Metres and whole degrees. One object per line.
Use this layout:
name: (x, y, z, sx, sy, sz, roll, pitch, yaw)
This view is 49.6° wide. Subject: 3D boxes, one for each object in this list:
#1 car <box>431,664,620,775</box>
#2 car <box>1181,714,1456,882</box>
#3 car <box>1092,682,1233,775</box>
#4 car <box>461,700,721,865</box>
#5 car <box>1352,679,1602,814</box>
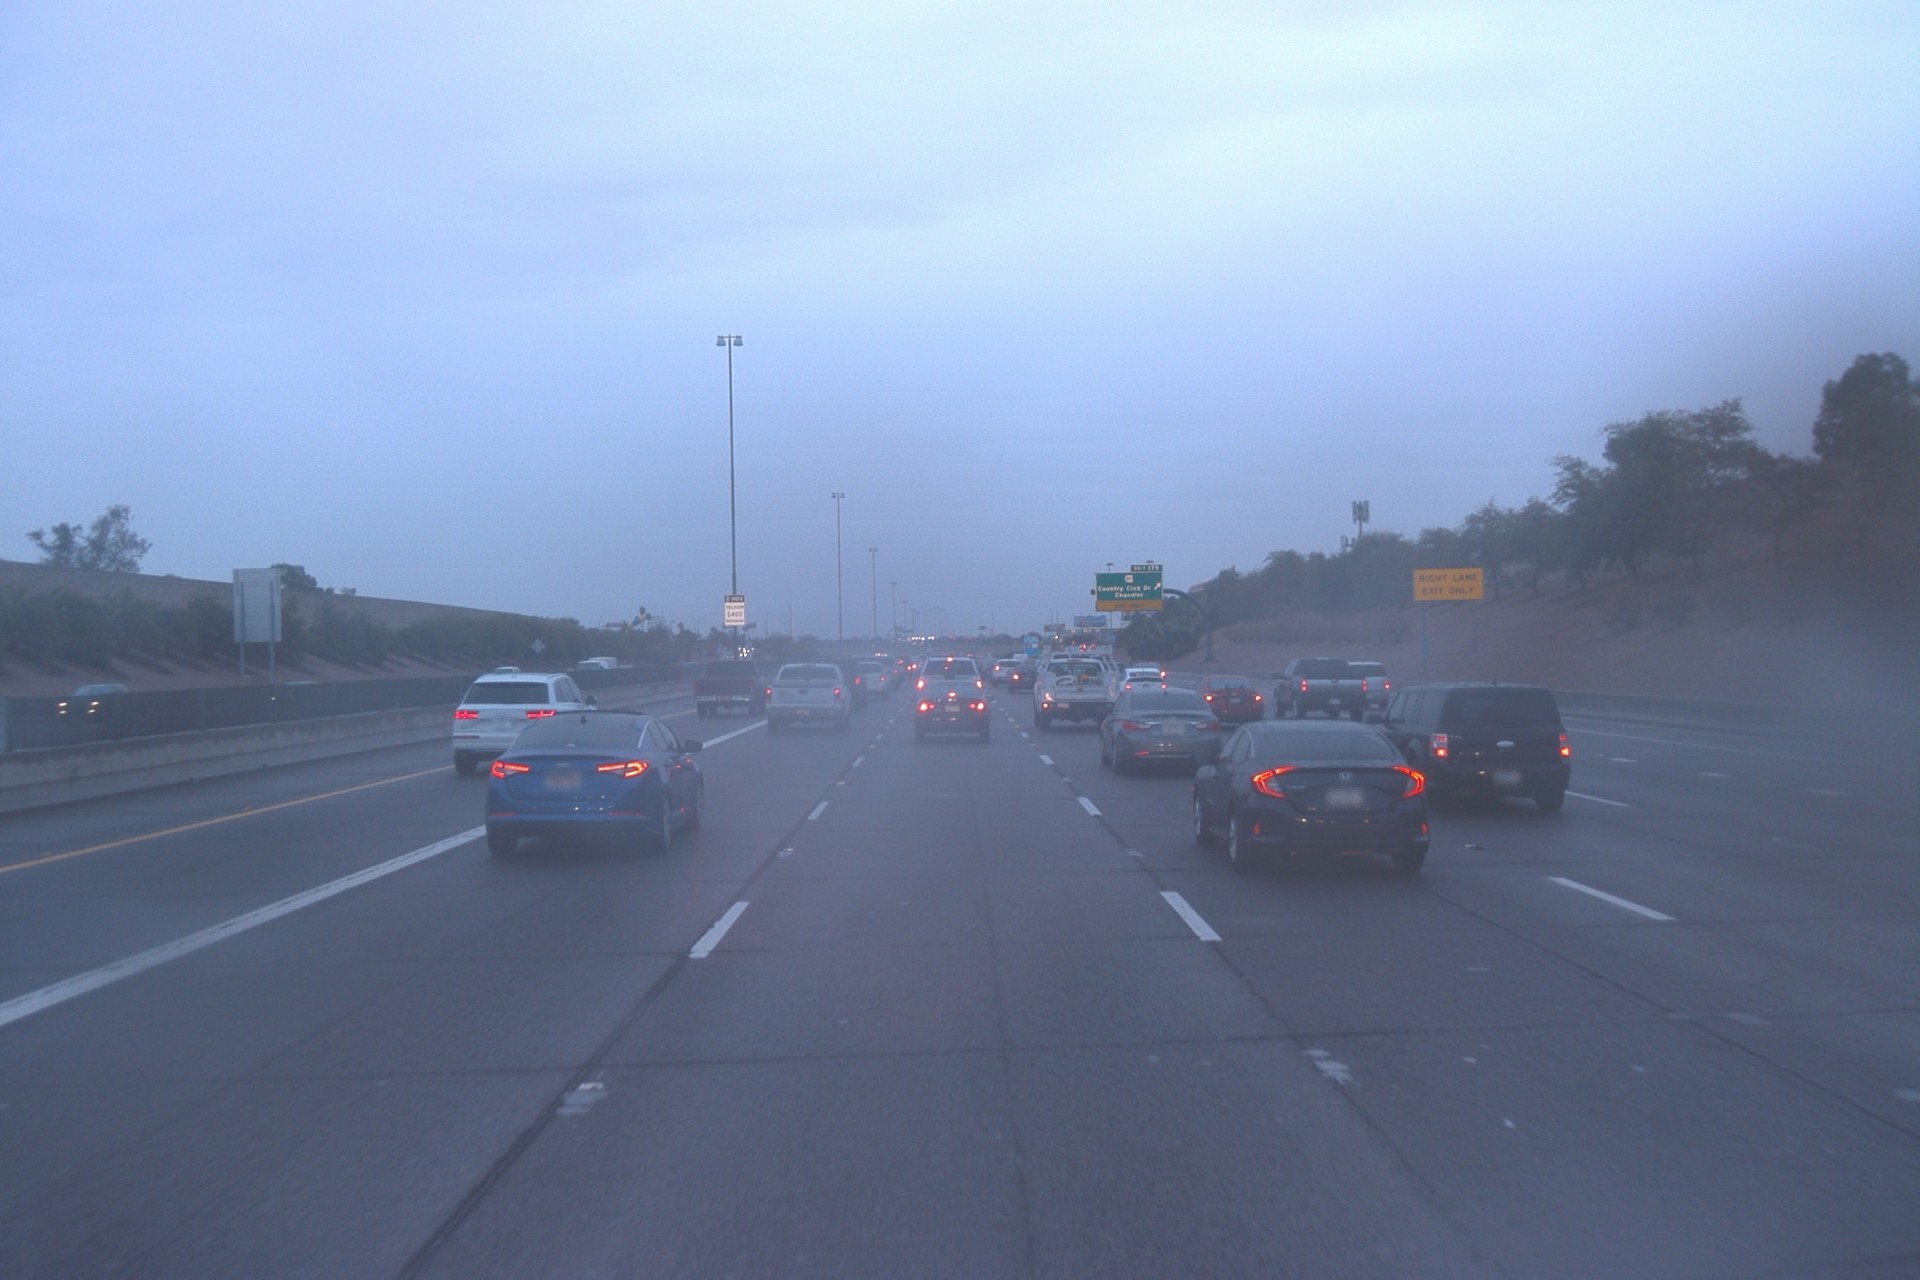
car: (-7.679, 1.352, 37.251, 2.303, 1.810, 5.259, 0, 0, 0)
car: (3.452, 1.493, 20.810, 1.973, 1.380, 4.335, 0, 0, 0)
car: (3.473, 1.502, 36.339, 2.017, 1.450, 4.379, 0, 0, 0)
car: (-3.883, 1.466, 22.648, 1.988, 1.510, 4.517, 0, 0, 1)
car: (6.949, 1.381, 28.523, 2.228, 1.630, 4.896, 0, 0, 0)
